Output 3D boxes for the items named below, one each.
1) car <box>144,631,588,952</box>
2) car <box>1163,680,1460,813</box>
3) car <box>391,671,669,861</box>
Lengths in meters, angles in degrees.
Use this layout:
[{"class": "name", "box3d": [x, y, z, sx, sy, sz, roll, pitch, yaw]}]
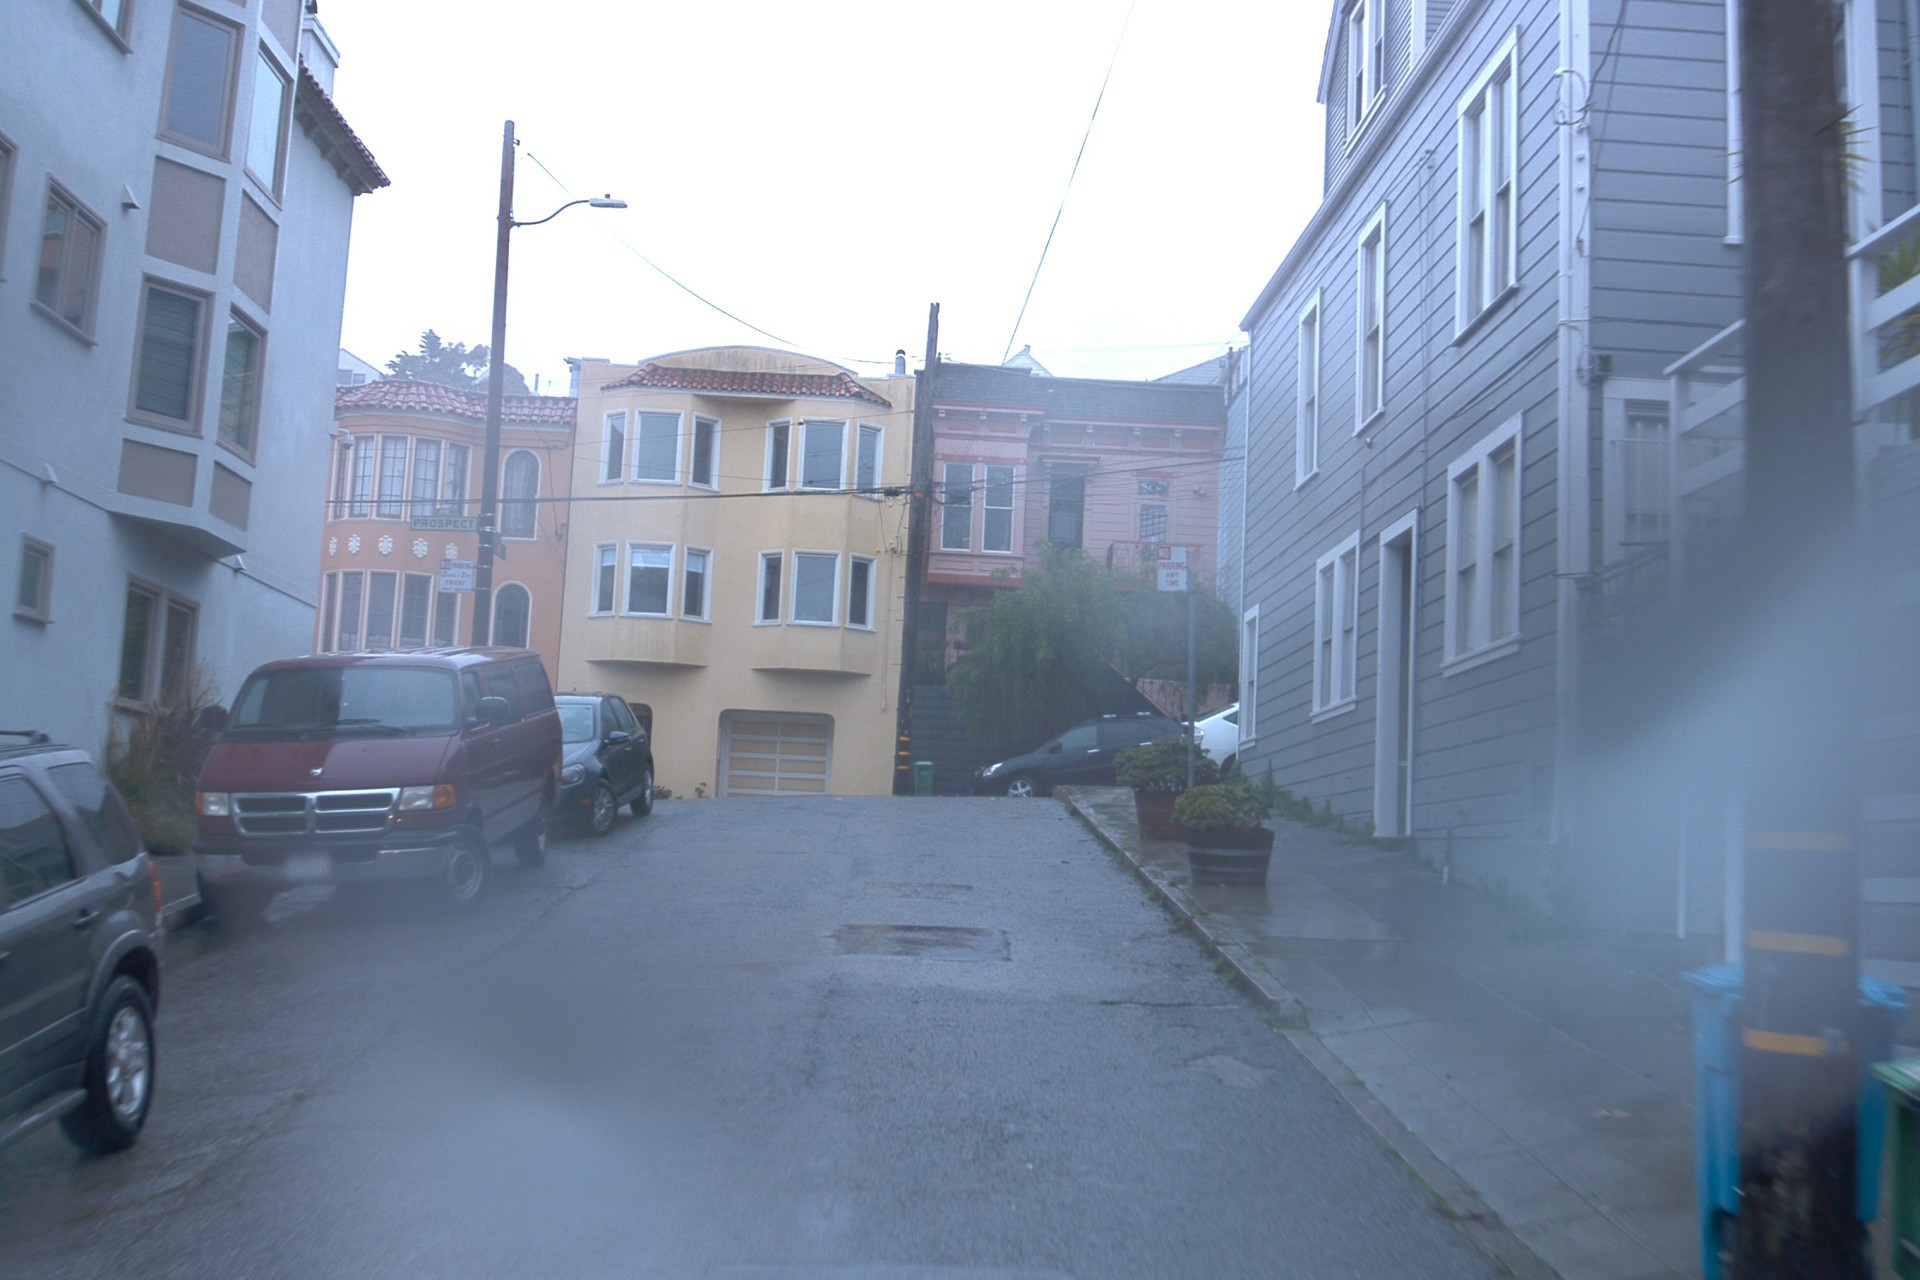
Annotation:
[{"class": "car", "box3d": [-4.627, 1.054, 16.999, 2.306, 2.200, 5.074, 1, 0, -2]}, {"class": "car", "box3d": [5.364, 1.613, 31.848, 4.209, 1.850, 2.036, 1, 0, 0]}, {"class": "car", "box3d": [-4.584, 1.282, 22.638, 2.071, 1.750, 4.282, 1, 0, 1]}]
